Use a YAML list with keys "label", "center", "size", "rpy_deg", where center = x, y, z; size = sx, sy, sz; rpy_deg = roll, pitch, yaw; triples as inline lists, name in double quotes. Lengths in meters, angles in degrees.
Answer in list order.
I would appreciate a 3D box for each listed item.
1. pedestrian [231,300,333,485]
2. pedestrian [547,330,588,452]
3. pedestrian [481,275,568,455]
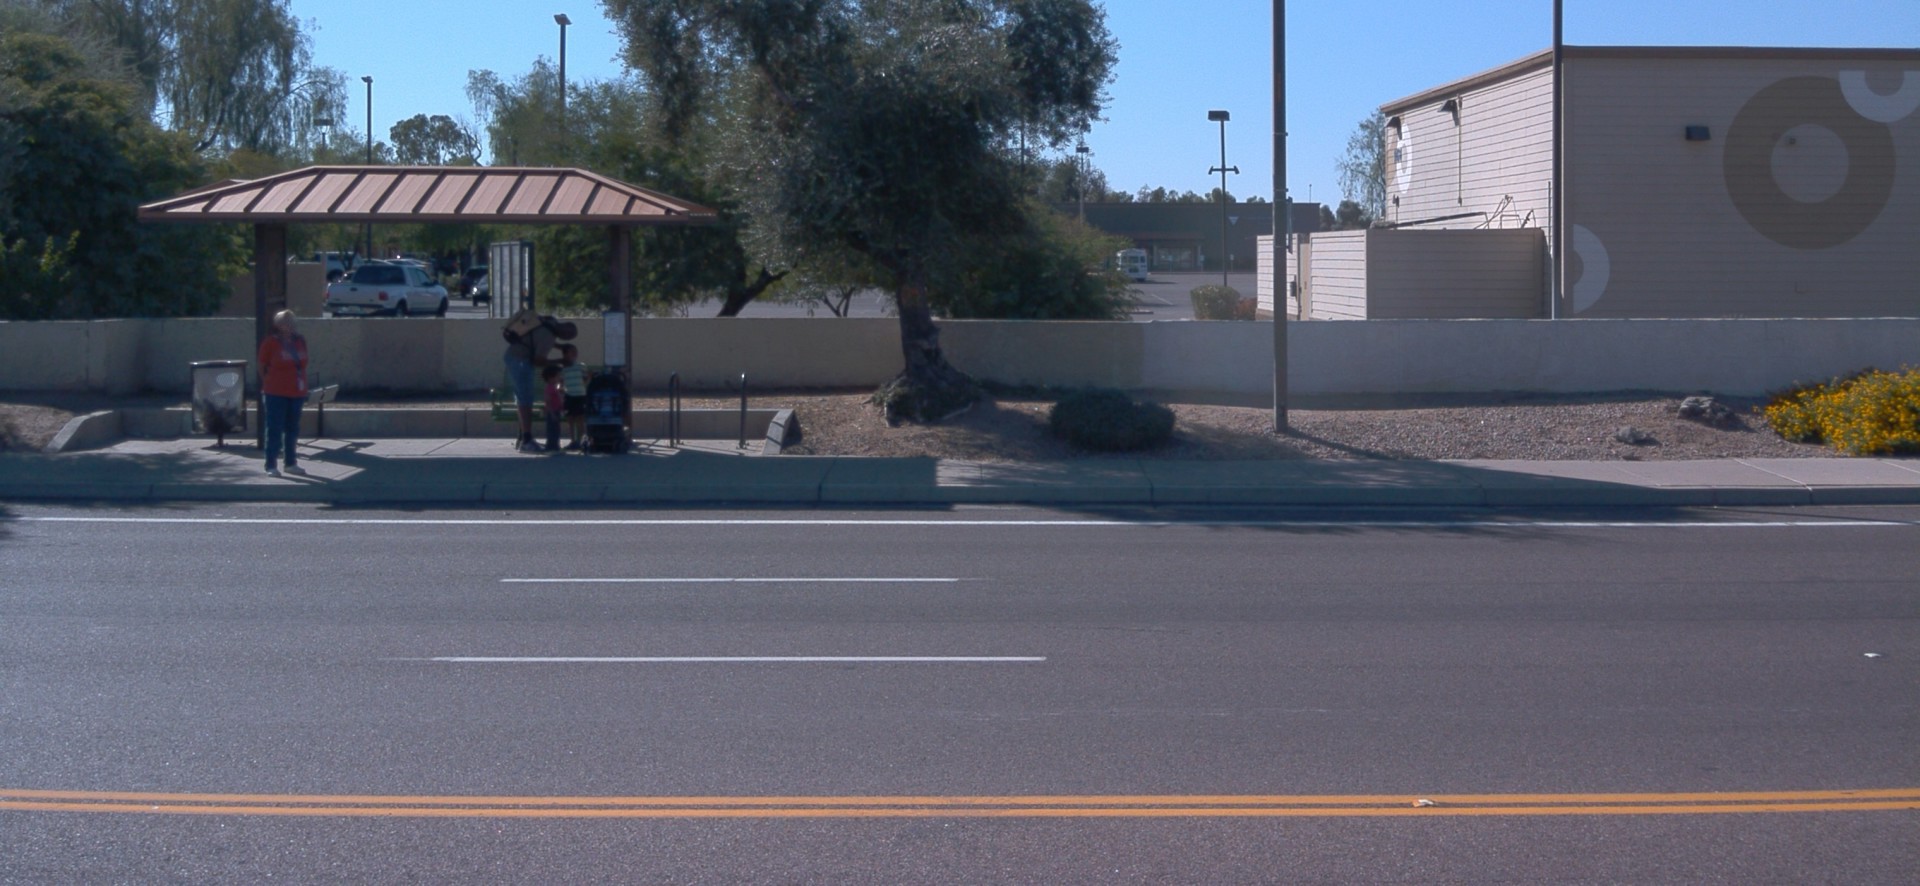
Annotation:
- label: "pedestrian"
  center: [-6.570, -0.509, 20.103]
  size: [0.634, 1.718, 0.691]
  rpy_deg: [1, 2, 36]
- label: "pedestrian"
  center: [-4.231, -0.568, 22.349]
  size: [0.364, 1.289, 0.399]
  rpy_deg: [0, 1, -1]
- label: "pedestrian"
  center: [-4.614, -0.846, 22.001]
  size: [0.776, 1.858, 0.777]
  rpy_deg: [0, 1, -2]
